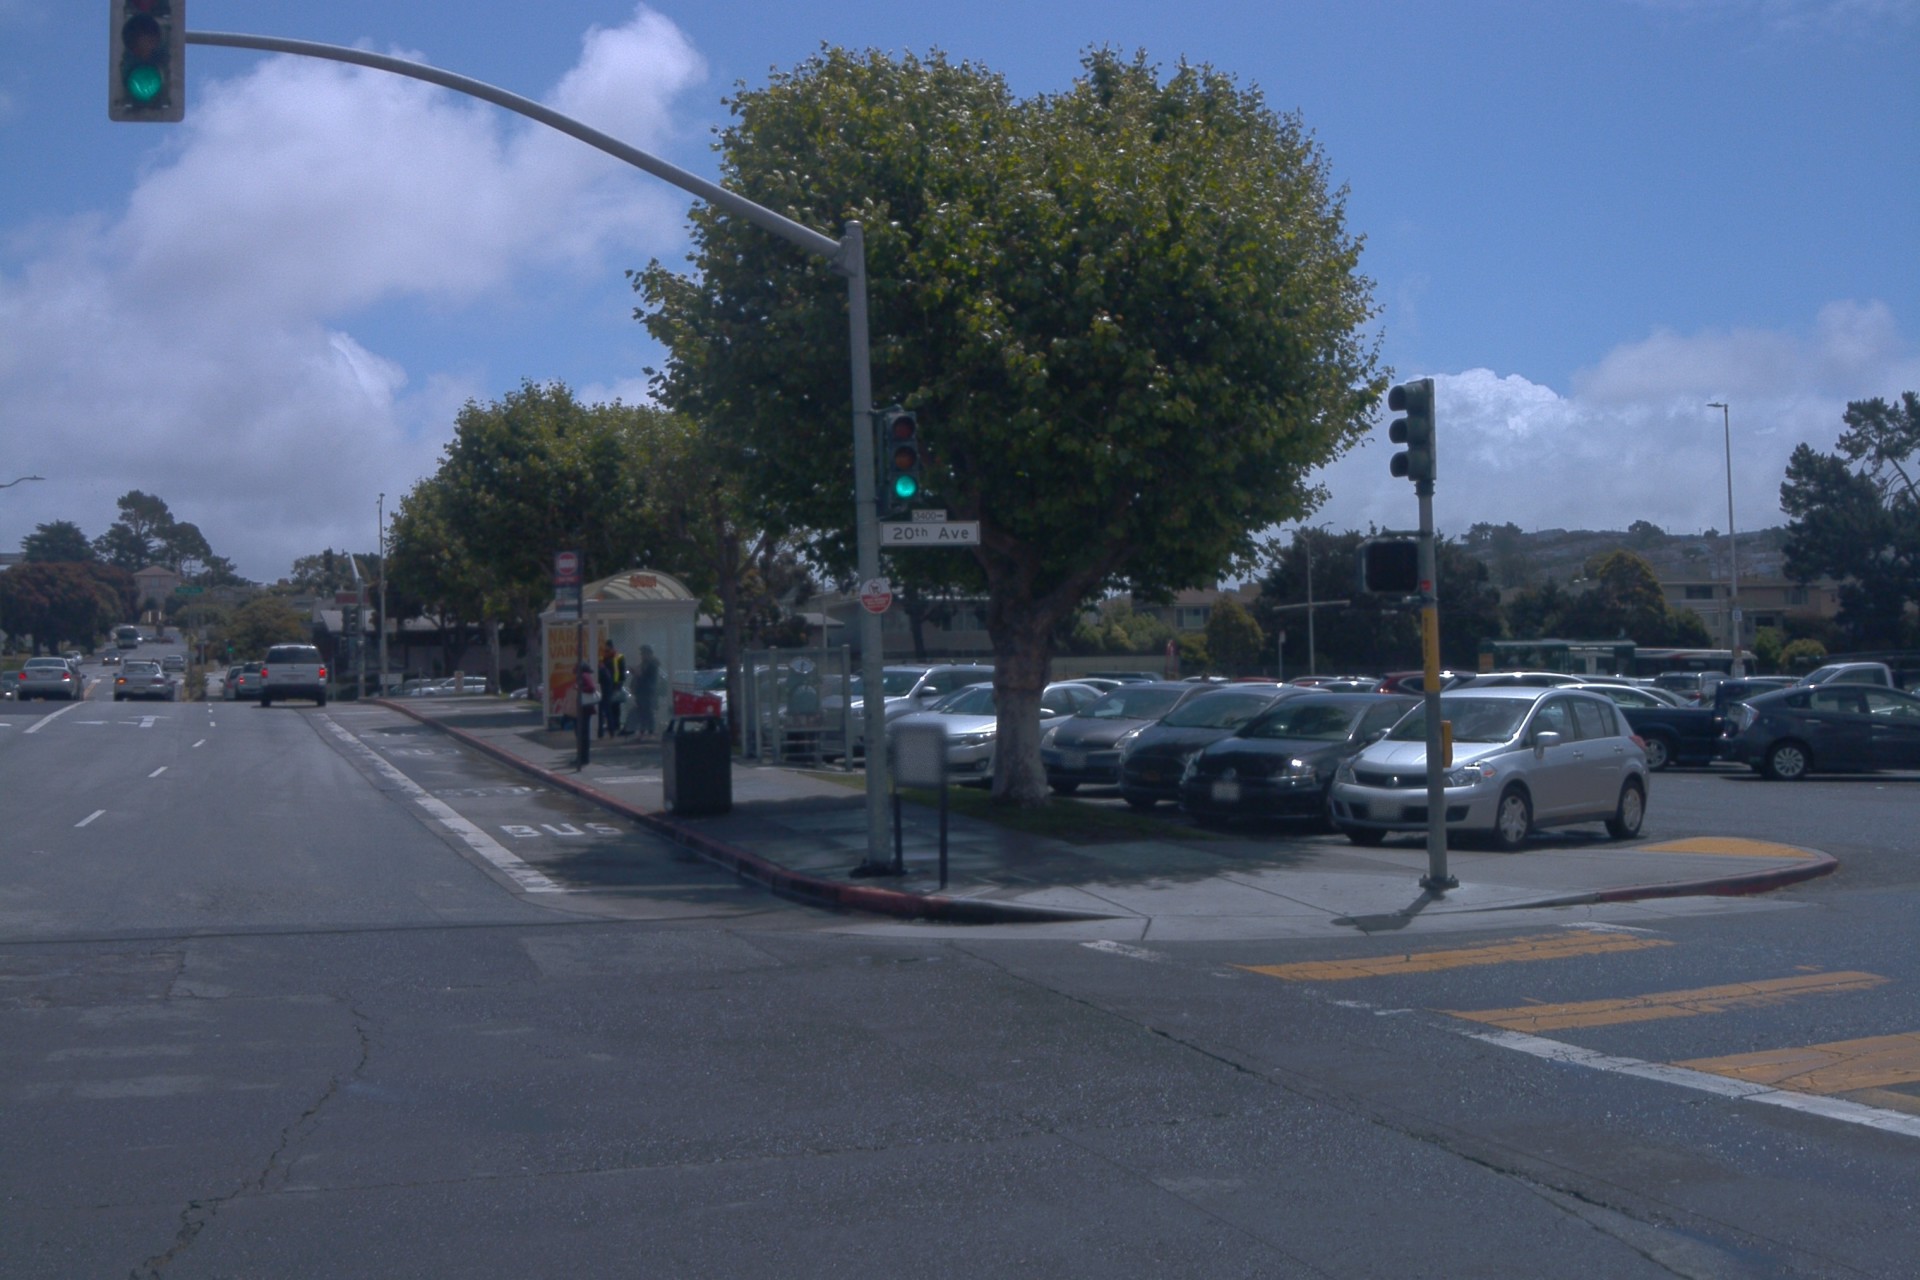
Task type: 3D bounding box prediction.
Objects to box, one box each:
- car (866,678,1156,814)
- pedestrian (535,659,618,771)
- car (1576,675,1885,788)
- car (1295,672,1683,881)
[{"bbox_3d":[0.834,1.461,29.952,2.123,1.660,4.440,0,1,35],"label":"car"},{"bbox_3d":[-5.820,1.122,31.182,0.993,1.620,1.080,-1,1,-24],"label":"pedestrian"},{"bbox_3d":[12.553,1.459,33.789,4.455,1.710,2.048,0,1,11],"label":"car"},{"bbox_3d":[5.299,1.233,20.249,1.984,1.700,4.248,0,1,42],"label":"car"}]
